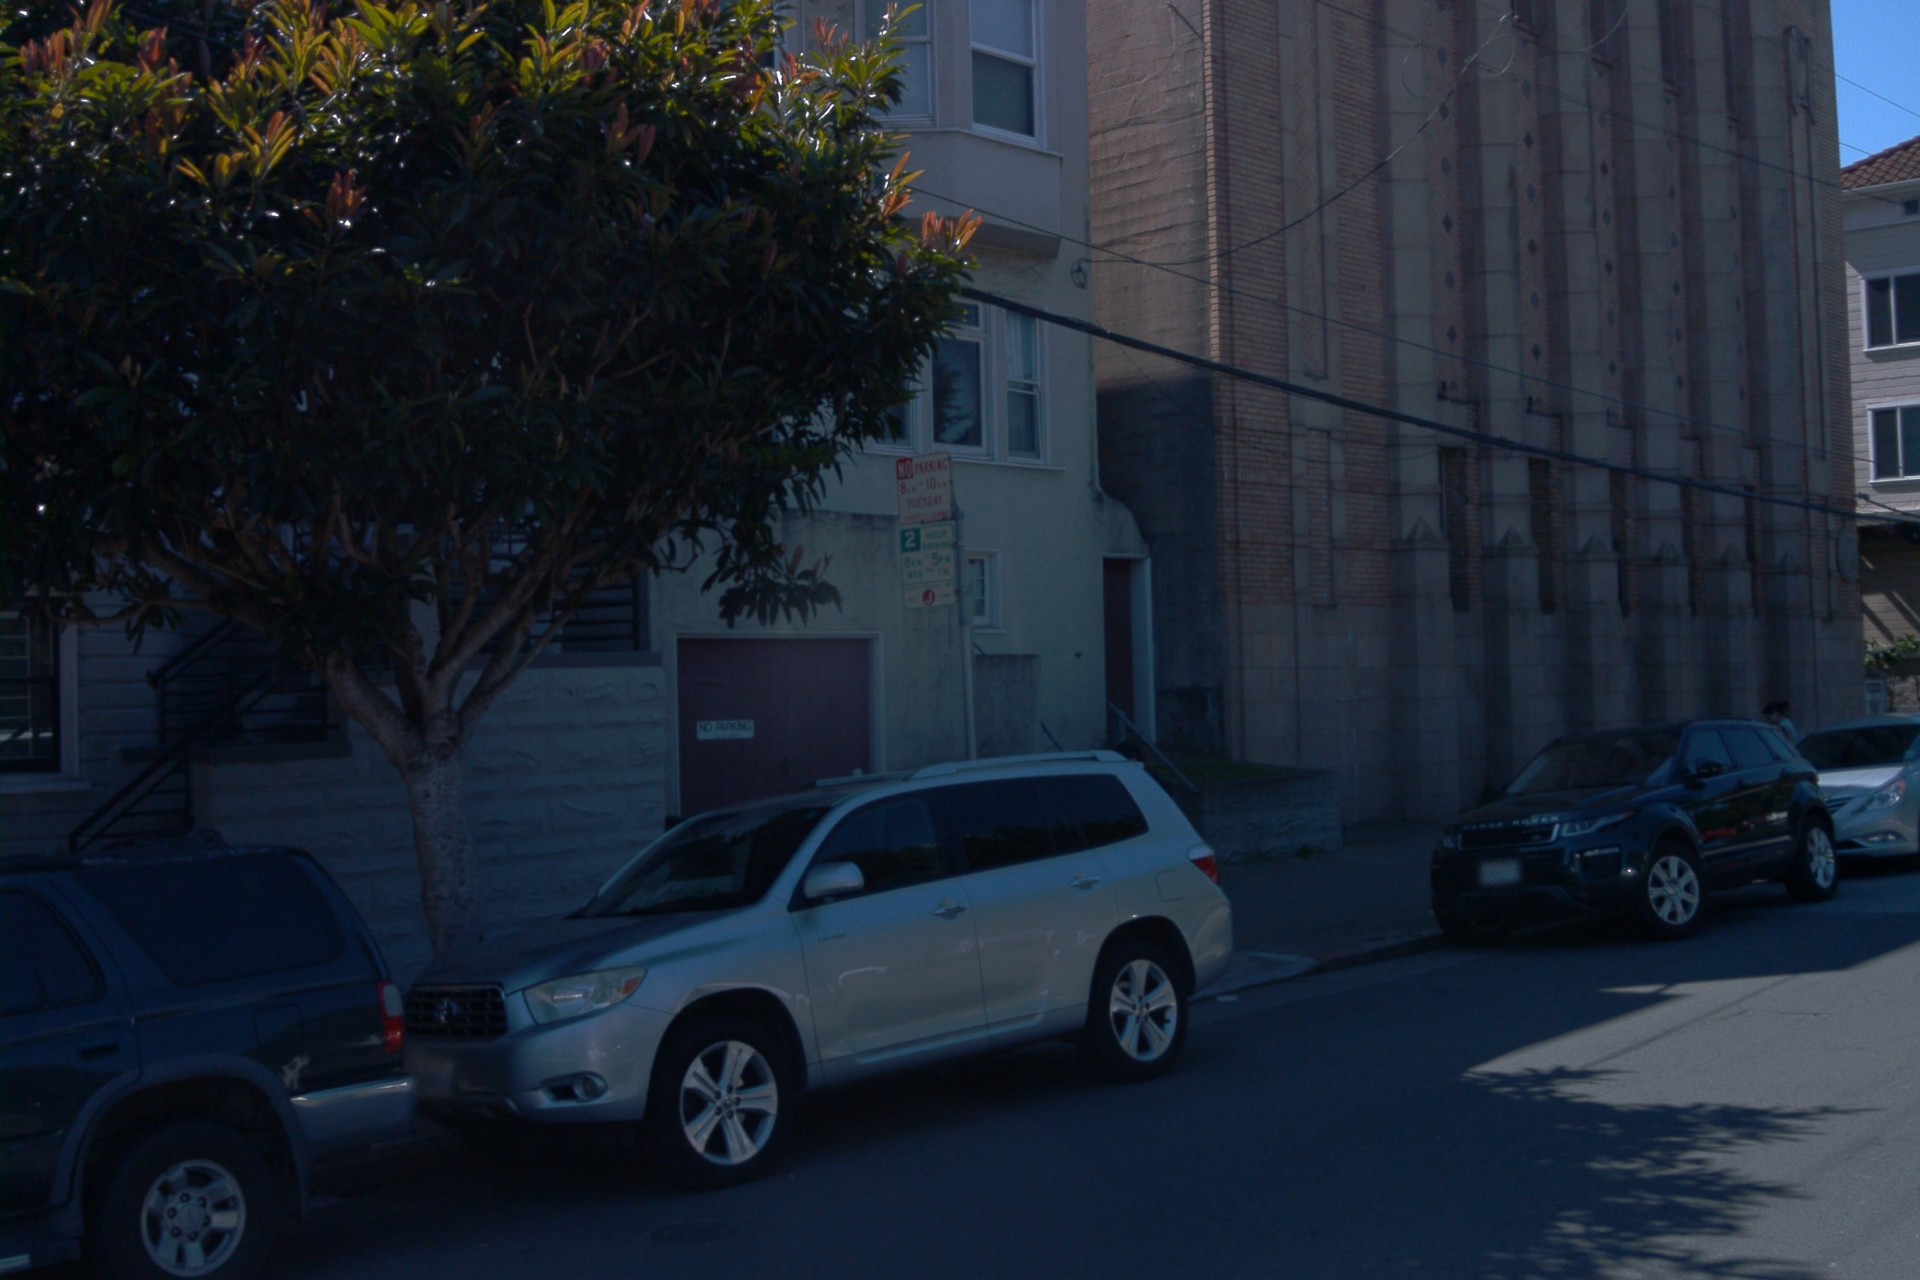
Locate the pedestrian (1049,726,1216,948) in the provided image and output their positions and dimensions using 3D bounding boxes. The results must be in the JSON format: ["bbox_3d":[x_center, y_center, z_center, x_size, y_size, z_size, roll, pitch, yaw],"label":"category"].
[{"bbox_3d":[1.381,1.540,16.459,0.969,1.630,0.915,-1,1,-44],"label":"pedestrian"}]

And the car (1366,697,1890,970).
[{"bbox_3d":[5.496,1.406,16.602,4.568,1.690,2.153,-1,1,-45],"label":"car"}]

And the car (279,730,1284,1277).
[{"bbox_3d":[-0.670,1.516,10.368,4.842,1.840,2.025,-1,1,-44],"label":"car"}]
